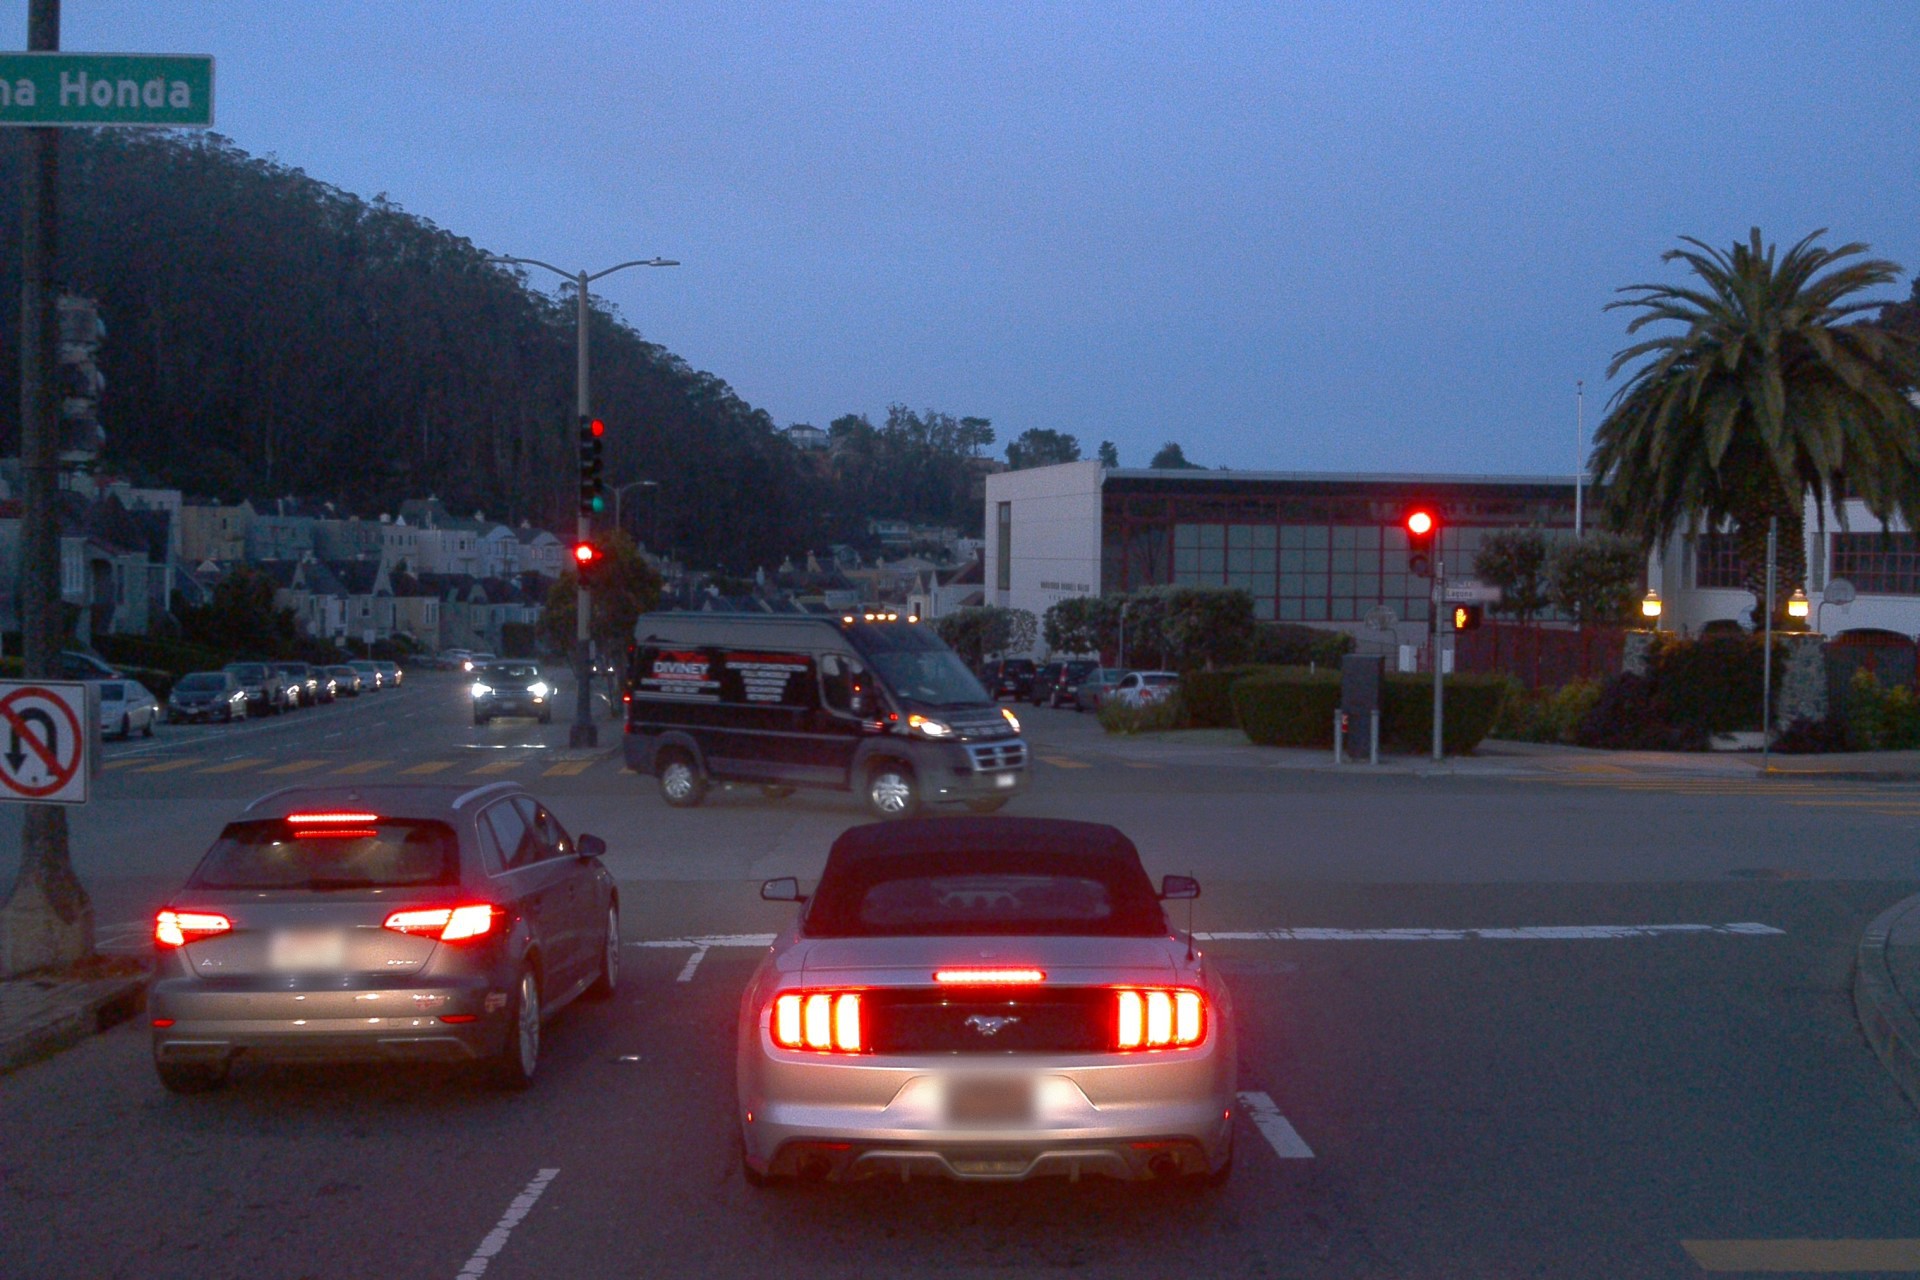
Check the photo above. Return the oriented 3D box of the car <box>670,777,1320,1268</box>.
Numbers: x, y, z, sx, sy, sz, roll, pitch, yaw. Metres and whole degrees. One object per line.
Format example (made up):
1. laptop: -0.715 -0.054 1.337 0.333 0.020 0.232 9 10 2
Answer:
1. car: 0.099 1.423 9.110 2.174 1.380 4.355 0 0 0

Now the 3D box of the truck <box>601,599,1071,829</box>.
1. truck: -1.656 0.854 26.227 5.659 2.610 2.545 0 0 38

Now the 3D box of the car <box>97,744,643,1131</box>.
1. car: -2.886 1.403 11.058 1.782 1.510 3.987 0 0 0
